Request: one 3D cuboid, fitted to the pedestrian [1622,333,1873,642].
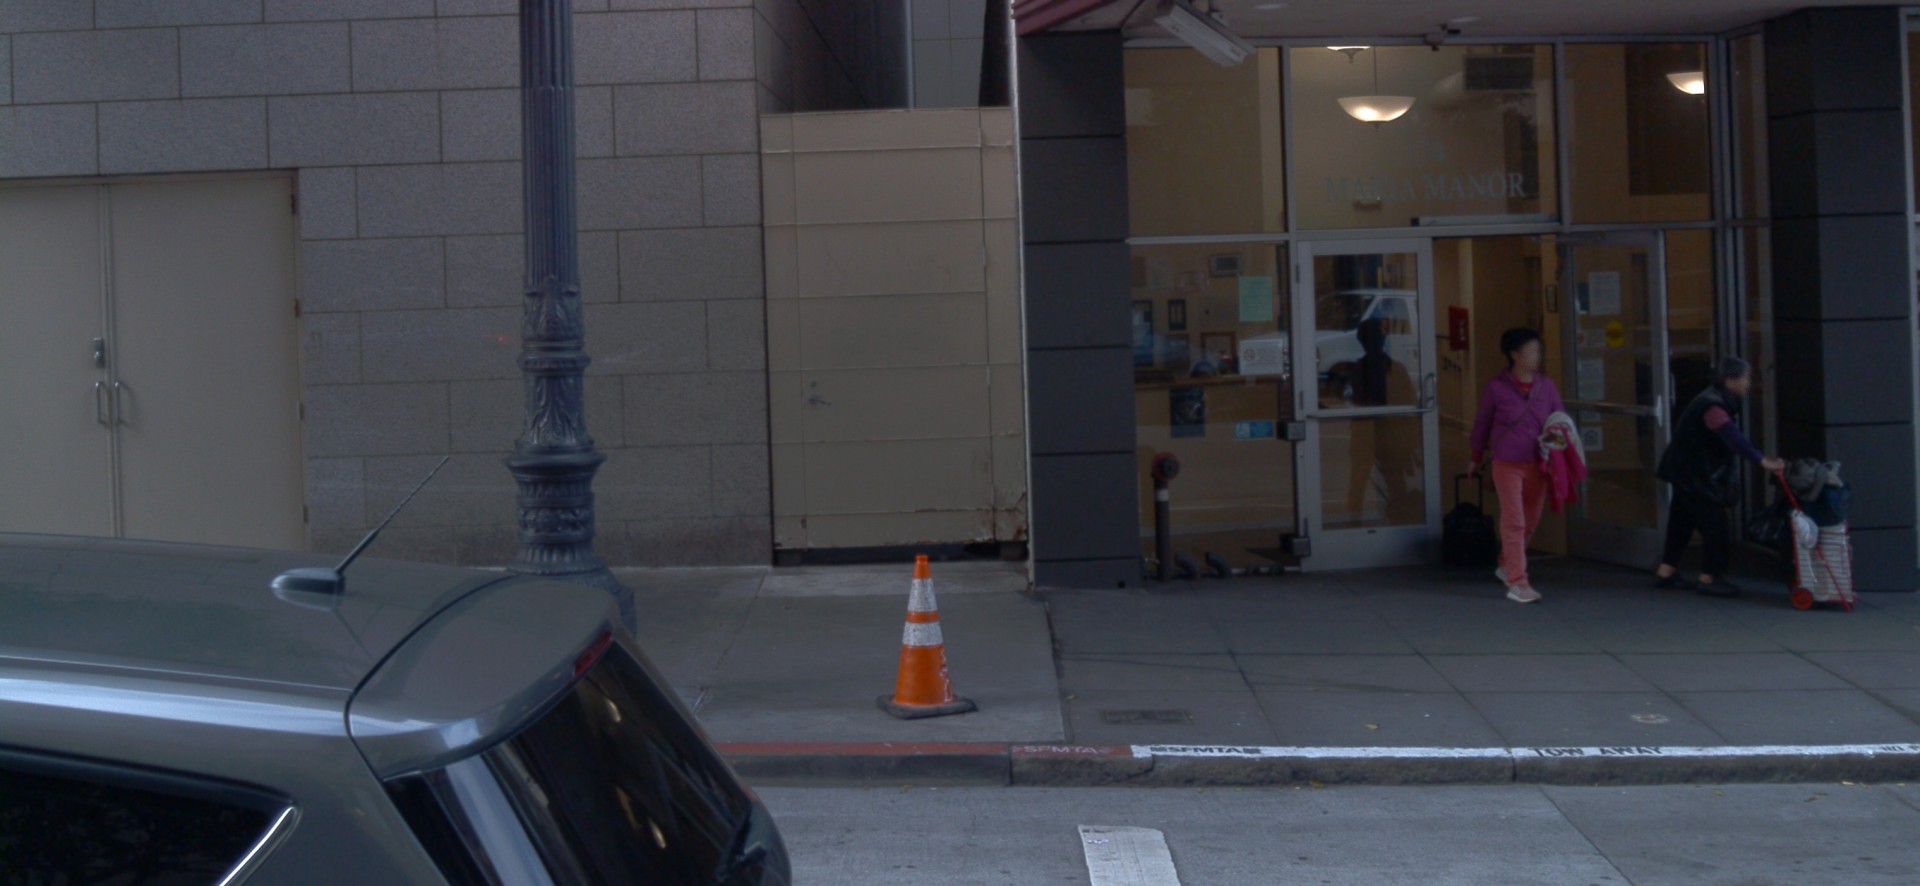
[{"bbox_3d":[4.550,0.211,11.873,1.259,1.639,0.670,1,1,30],"label":"pedestrian"}]

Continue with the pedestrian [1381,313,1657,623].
[{"bbox_3d":[3.321,0.087,12.376,1.103,1.678,1.531,0,3,-8],"label":"pedestrian"}]
